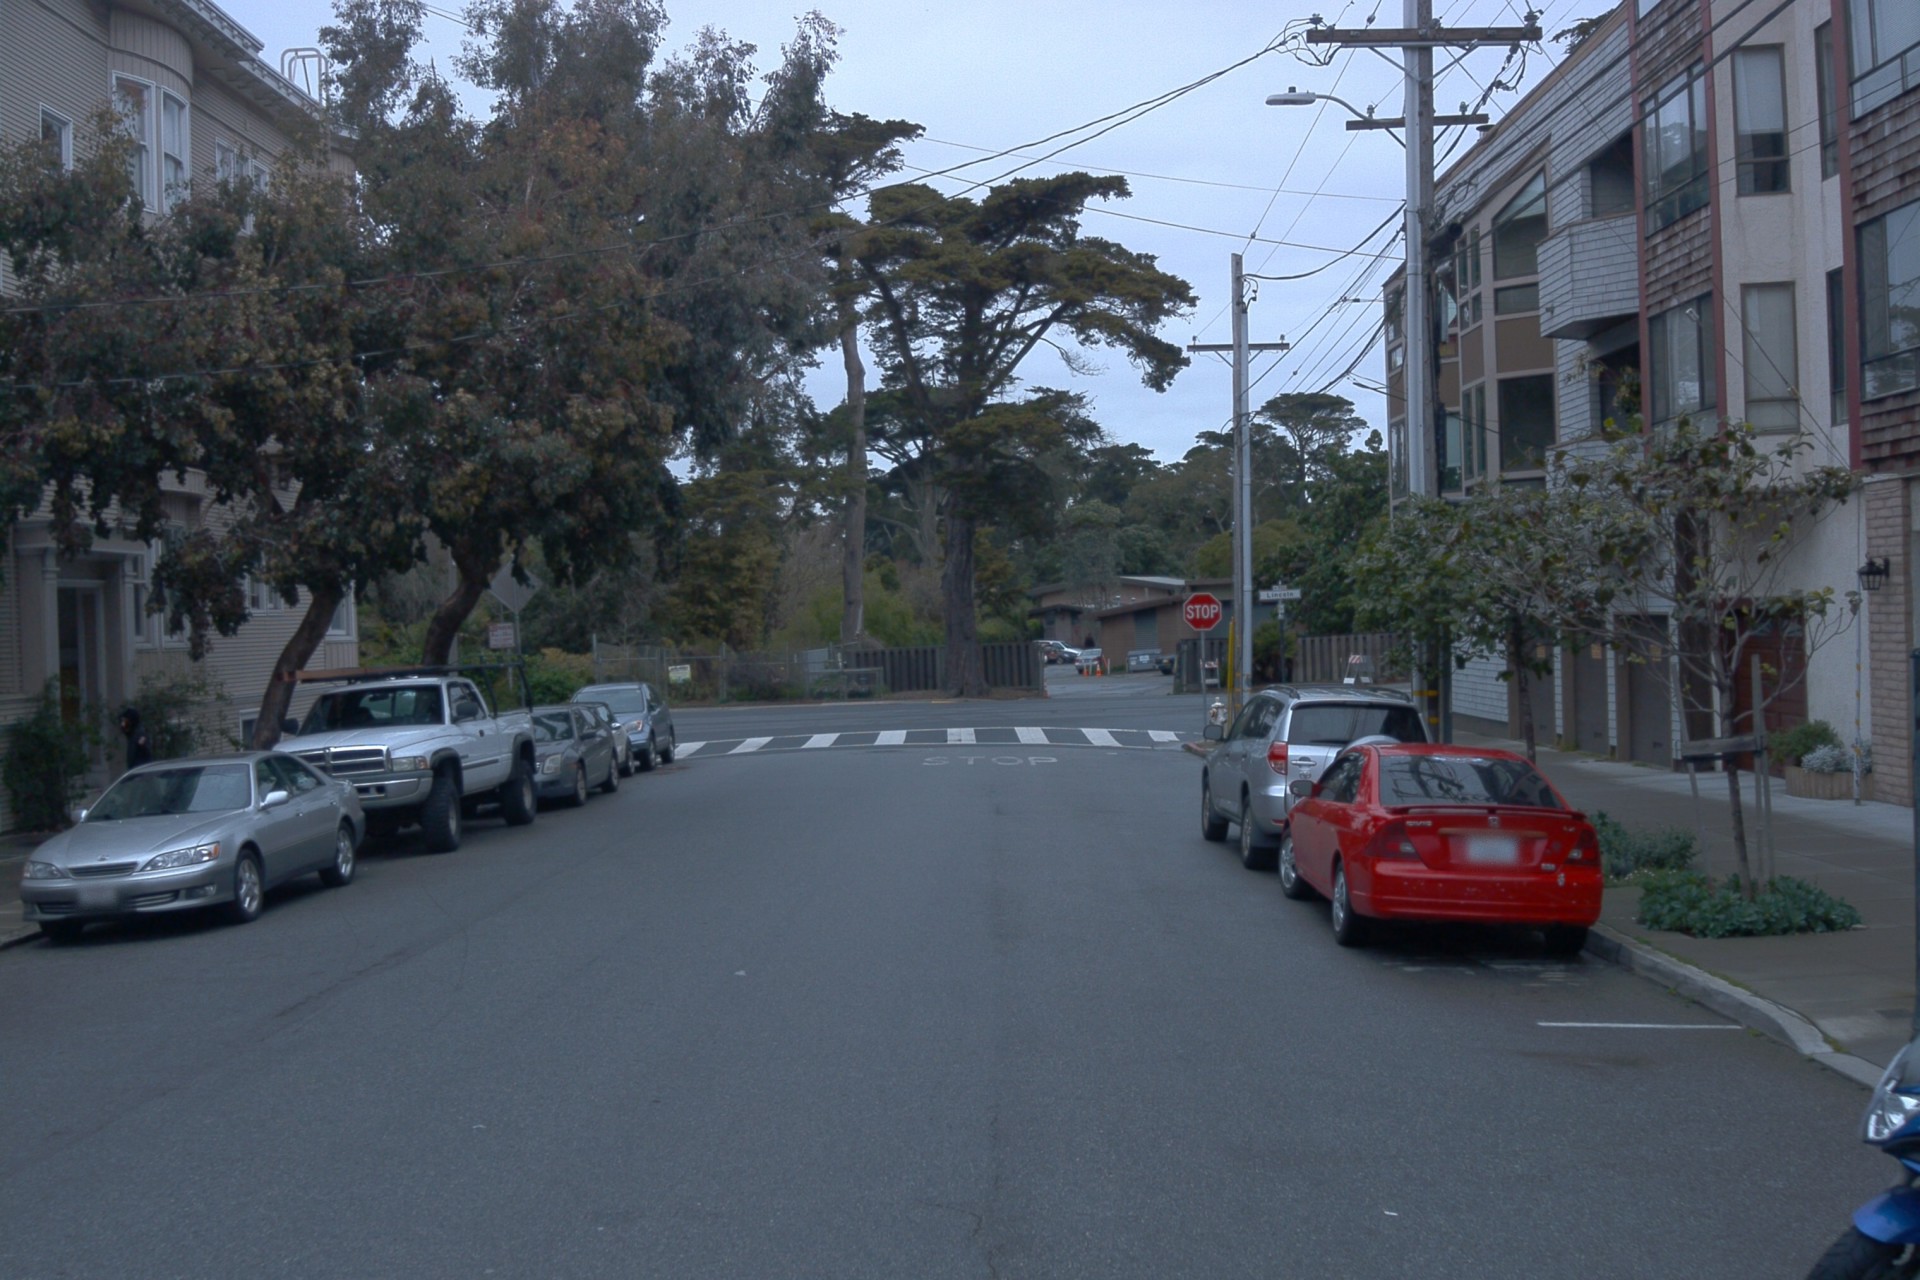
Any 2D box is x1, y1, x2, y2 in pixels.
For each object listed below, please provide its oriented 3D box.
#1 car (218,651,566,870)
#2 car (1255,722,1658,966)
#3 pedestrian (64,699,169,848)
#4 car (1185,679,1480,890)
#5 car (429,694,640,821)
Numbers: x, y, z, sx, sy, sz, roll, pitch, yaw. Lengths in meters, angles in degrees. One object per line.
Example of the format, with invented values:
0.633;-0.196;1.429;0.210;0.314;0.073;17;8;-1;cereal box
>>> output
-6.593;1.289;24.826;2.346;2.270;6.089;0;0;2;car
3.535;1.407;15.611;1.981;1.390;4.632;0;0;1;car
-9.622;1.511;23.518;0.901;1.650;0.748;0;0;-3;pedestrian
3.515;1.306;20.380;2.050;1.750;4.740;0;0;0;car
-6.163;1.662;30.438;2.056;1.600;4.792;0;0;1;car
